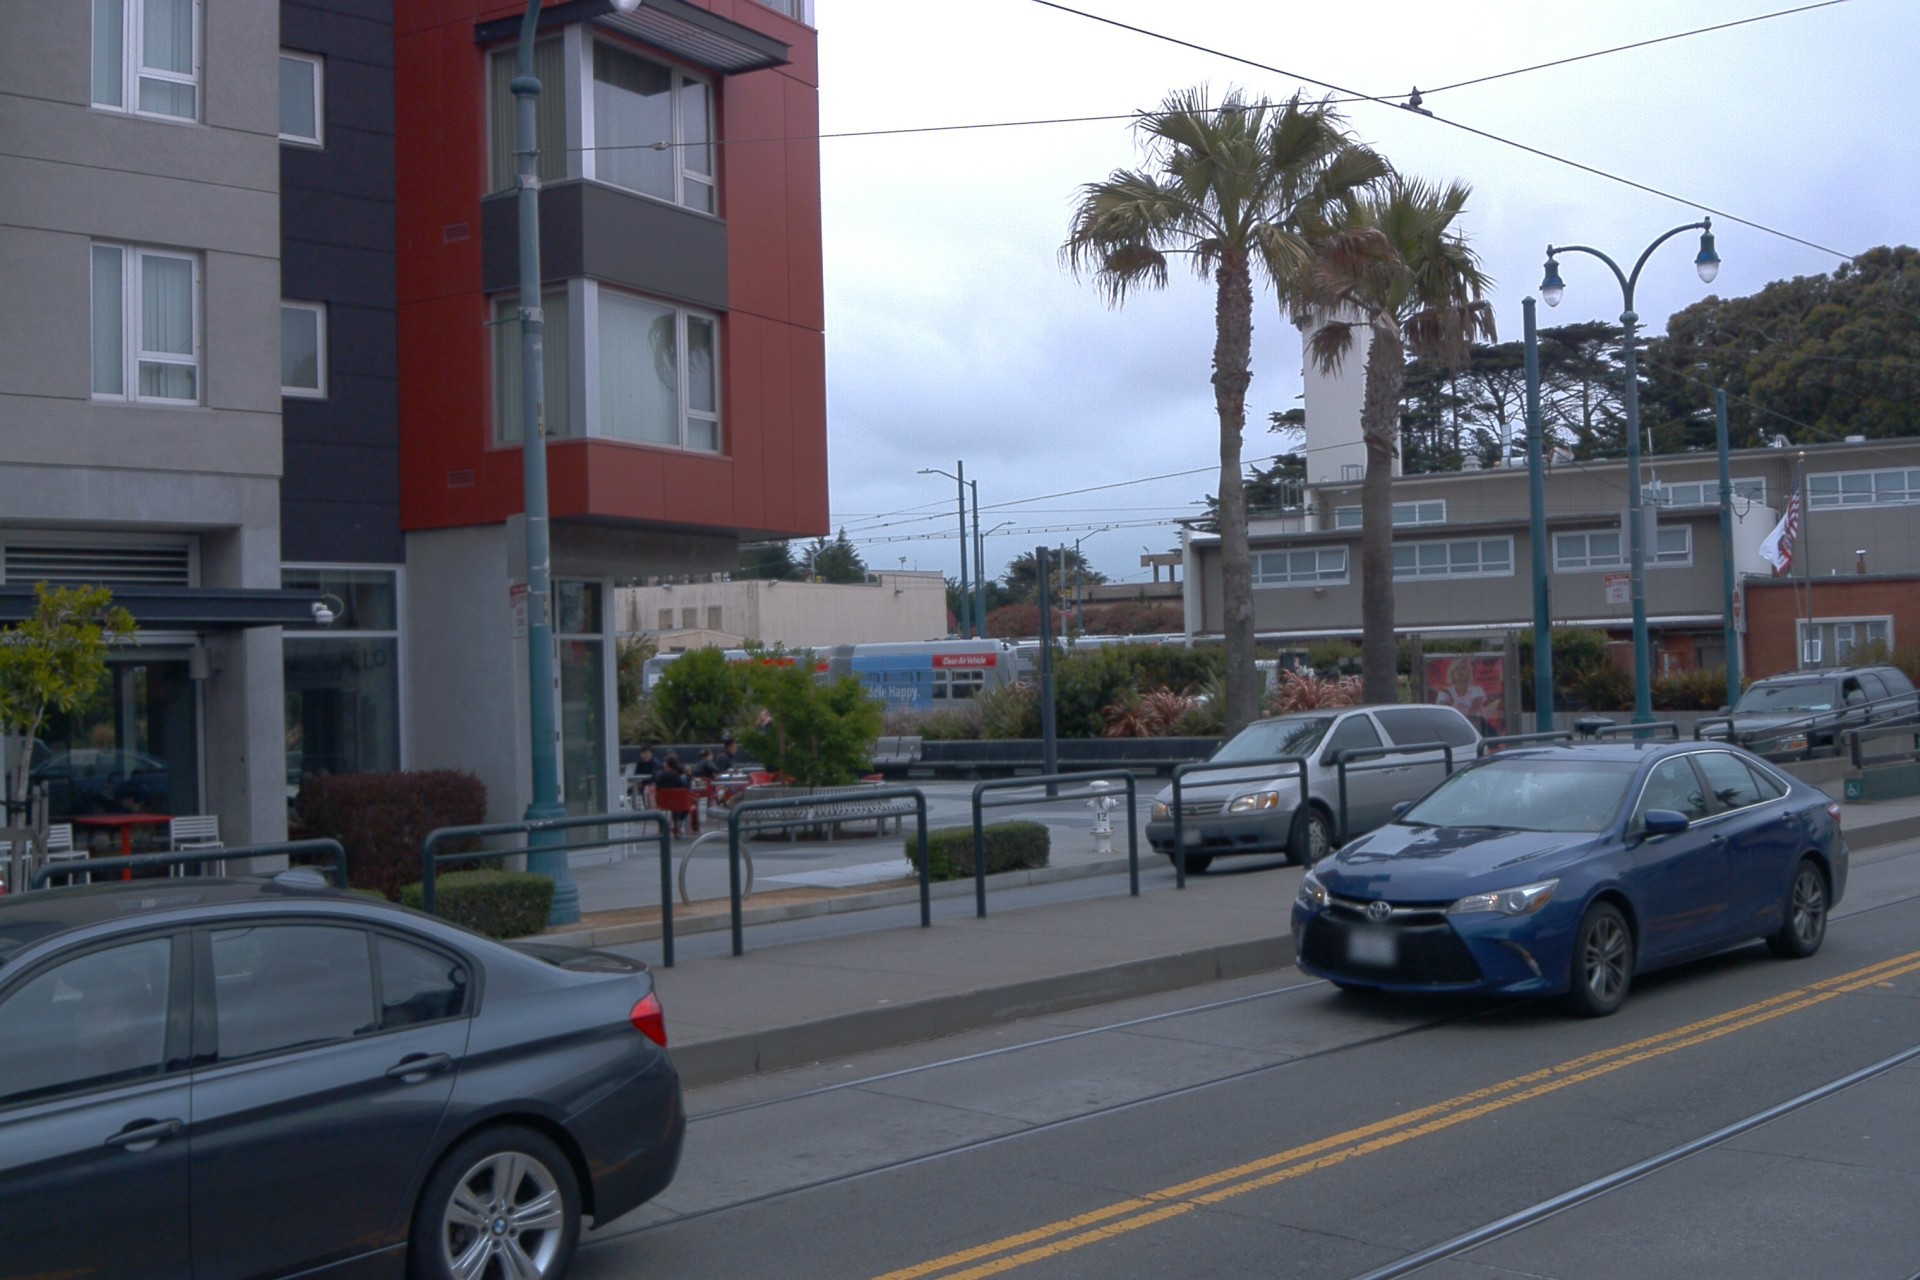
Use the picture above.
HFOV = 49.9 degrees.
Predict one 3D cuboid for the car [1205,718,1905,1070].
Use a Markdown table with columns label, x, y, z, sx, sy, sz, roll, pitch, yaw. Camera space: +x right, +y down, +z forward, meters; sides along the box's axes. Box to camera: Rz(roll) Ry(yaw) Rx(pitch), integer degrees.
| label | x | y | z | sx | sy | sz | roll | pitch | yaw |
| --- | --- | --- | --- | --- | --- | --- | --- | --- | --- |
| car | 3.916 | 1.397 | 13.052 | 4.847 | 1.540 | 2.114 | -1 | 1 | -44 |

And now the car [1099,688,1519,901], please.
| label | x | y | z | sx | sy | sz | roll | pitch | yaw |
| --- | --- | --- | --- | --- | --- | --- | --- | --- | --- |
| car | 3.952 | 1.579 | 22.801 | 4.871 | 1.890 | 2.131 | -1 | 1 | -45 |
